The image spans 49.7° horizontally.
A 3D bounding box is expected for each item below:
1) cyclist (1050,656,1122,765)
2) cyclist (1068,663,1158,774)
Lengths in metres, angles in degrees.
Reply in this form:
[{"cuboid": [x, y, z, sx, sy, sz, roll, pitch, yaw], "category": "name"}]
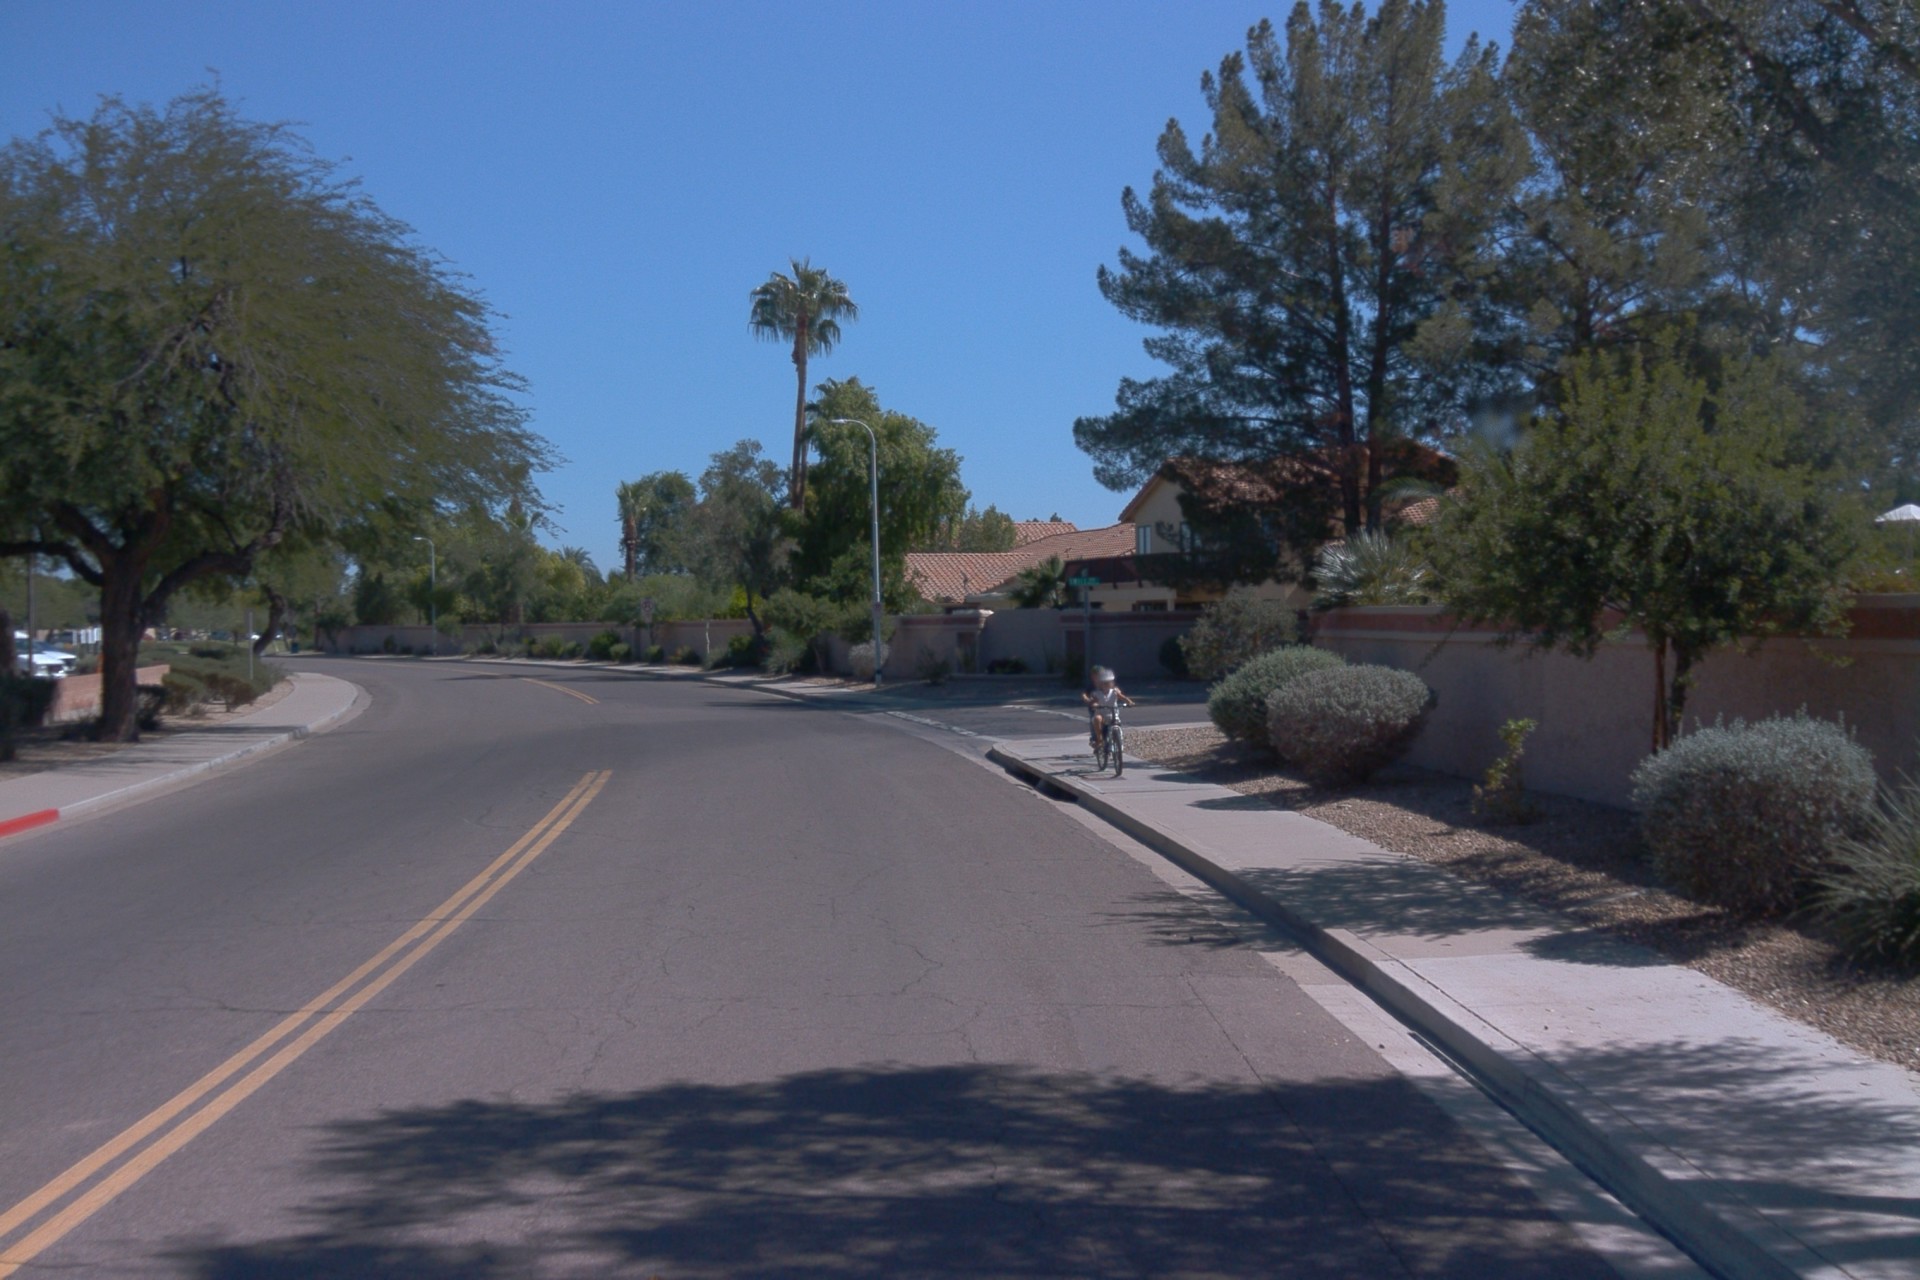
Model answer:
[{"cuboid": [1.795, 0.991, 29.703, 0.742, 1.500, 1.758, 1, -1, -6], "category": "cyclist"}, {"cuboid": [1.984, 1.006, 27.057, 0.880, 1.390, 1.781, 1, -1, -5], "category": "cyclist"}]
